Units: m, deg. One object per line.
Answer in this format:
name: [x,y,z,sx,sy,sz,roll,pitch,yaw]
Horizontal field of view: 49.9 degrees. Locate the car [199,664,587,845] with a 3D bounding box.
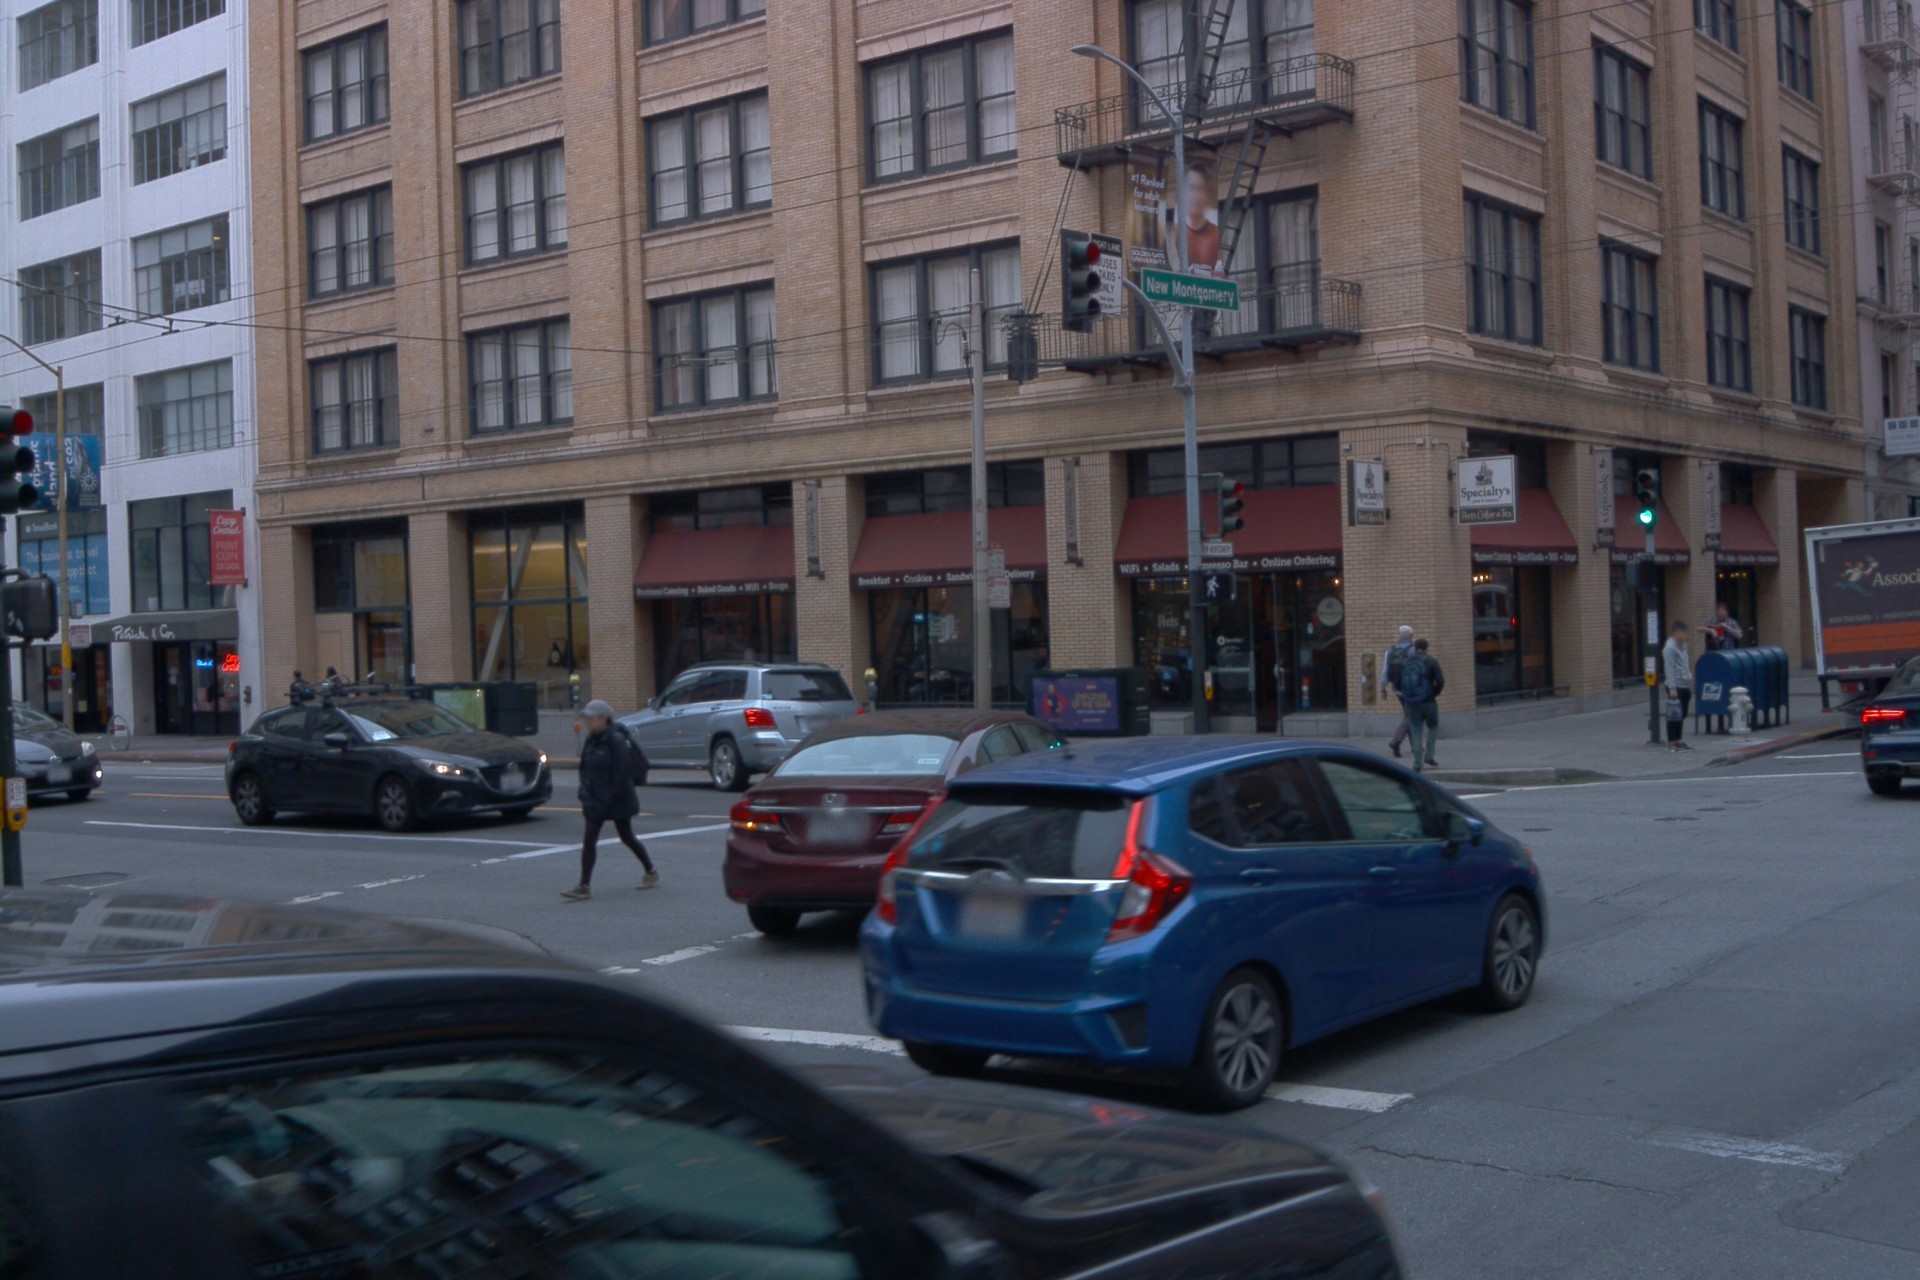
car: [-6.490,1.207,23.453,4.370,1.740,2.024,1,1,38]

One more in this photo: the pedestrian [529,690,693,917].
pedestrian: [-2.786,1.272,16.509,0.774,1.690,1.027,1,1,39]

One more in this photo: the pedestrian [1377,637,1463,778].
pedestrian: [5.893,0.841,26.418,0.765,1.750,0.930,1,1,36]

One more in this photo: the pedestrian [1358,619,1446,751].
pedestrian: [6.107,0.599,28.504,0.827,1.780,1.060,1,1,36]

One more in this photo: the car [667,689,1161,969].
car: [-0.120,1.193,14.864,2.032,1.480,4.497,0,1,20]

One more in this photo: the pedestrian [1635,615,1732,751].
pedestrian: [9.796,0.566,27.949,0.791,1.787,0.965,-1,1,-42]

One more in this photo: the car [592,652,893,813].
car: [-3.002,1.159,27.767,2.148,1.869,4.281,-1,1,-37]

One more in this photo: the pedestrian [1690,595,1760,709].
pedestrian: [13.010,0.188,35.098,0.901,1.900,0.938,1,1,35]

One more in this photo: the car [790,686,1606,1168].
car: [1.337,1.133,9.985,2.009,1.640,4.089,1,1,40]
